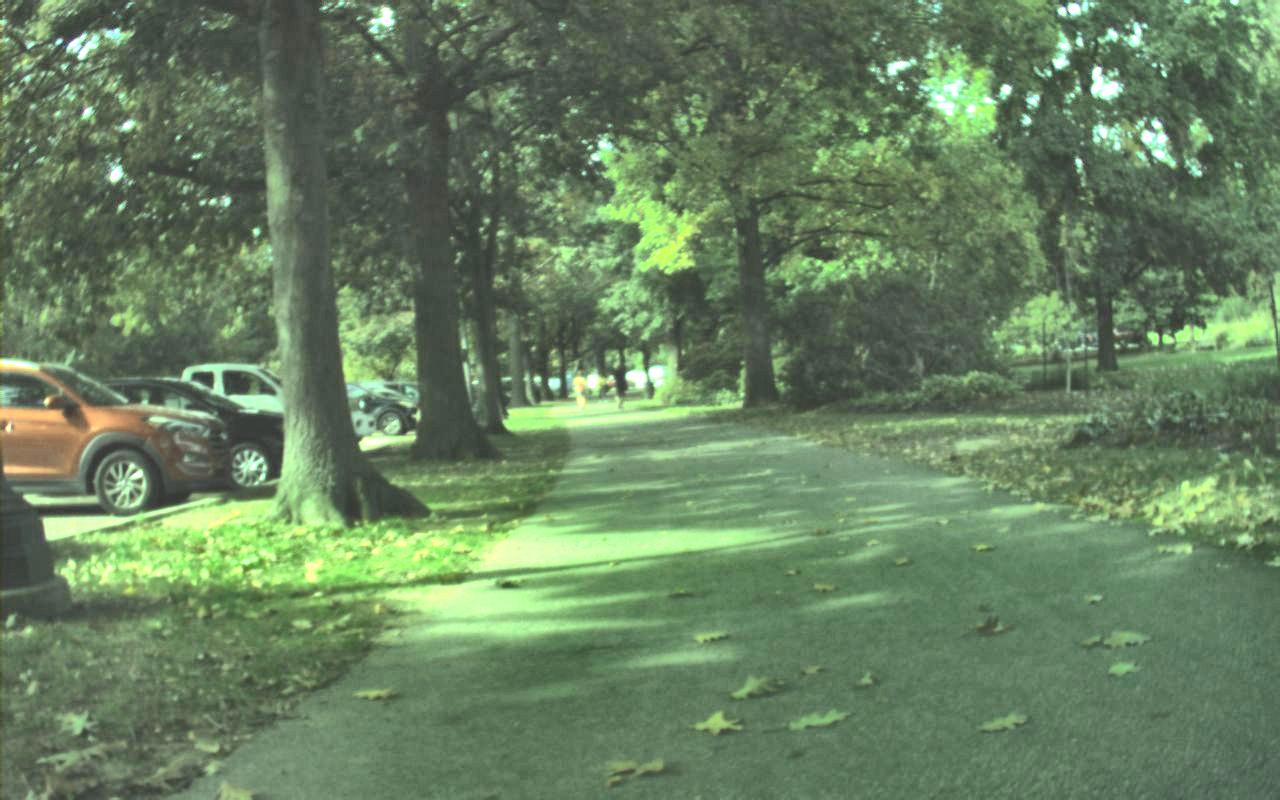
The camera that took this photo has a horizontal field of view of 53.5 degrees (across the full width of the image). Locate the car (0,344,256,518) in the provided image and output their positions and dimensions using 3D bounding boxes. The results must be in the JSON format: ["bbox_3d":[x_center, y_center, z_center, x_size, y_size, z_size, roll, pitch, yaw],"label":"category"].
[{"bbox_3d":[-6.384,0.285,12.150,4.524,1.656,1.962,0,1,-7],"label":"car"}]

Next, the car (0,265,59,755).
[{"bbox_3d":[-5.981,0.324,6.308,4.439,1.636,1.973,0,1,-7],"label":"car"}]

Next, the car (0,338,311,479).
[{"bbox_3d":[-6.397,0.086,14.877,4.456,1.630,1.957,0,1,-9],"label":"car"}]

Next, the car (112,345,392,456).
[{"bbox_3d":[-6.509,-0.006,20.467,4.656,1.731,2.012,0,1,-8],"label":"car"}]
